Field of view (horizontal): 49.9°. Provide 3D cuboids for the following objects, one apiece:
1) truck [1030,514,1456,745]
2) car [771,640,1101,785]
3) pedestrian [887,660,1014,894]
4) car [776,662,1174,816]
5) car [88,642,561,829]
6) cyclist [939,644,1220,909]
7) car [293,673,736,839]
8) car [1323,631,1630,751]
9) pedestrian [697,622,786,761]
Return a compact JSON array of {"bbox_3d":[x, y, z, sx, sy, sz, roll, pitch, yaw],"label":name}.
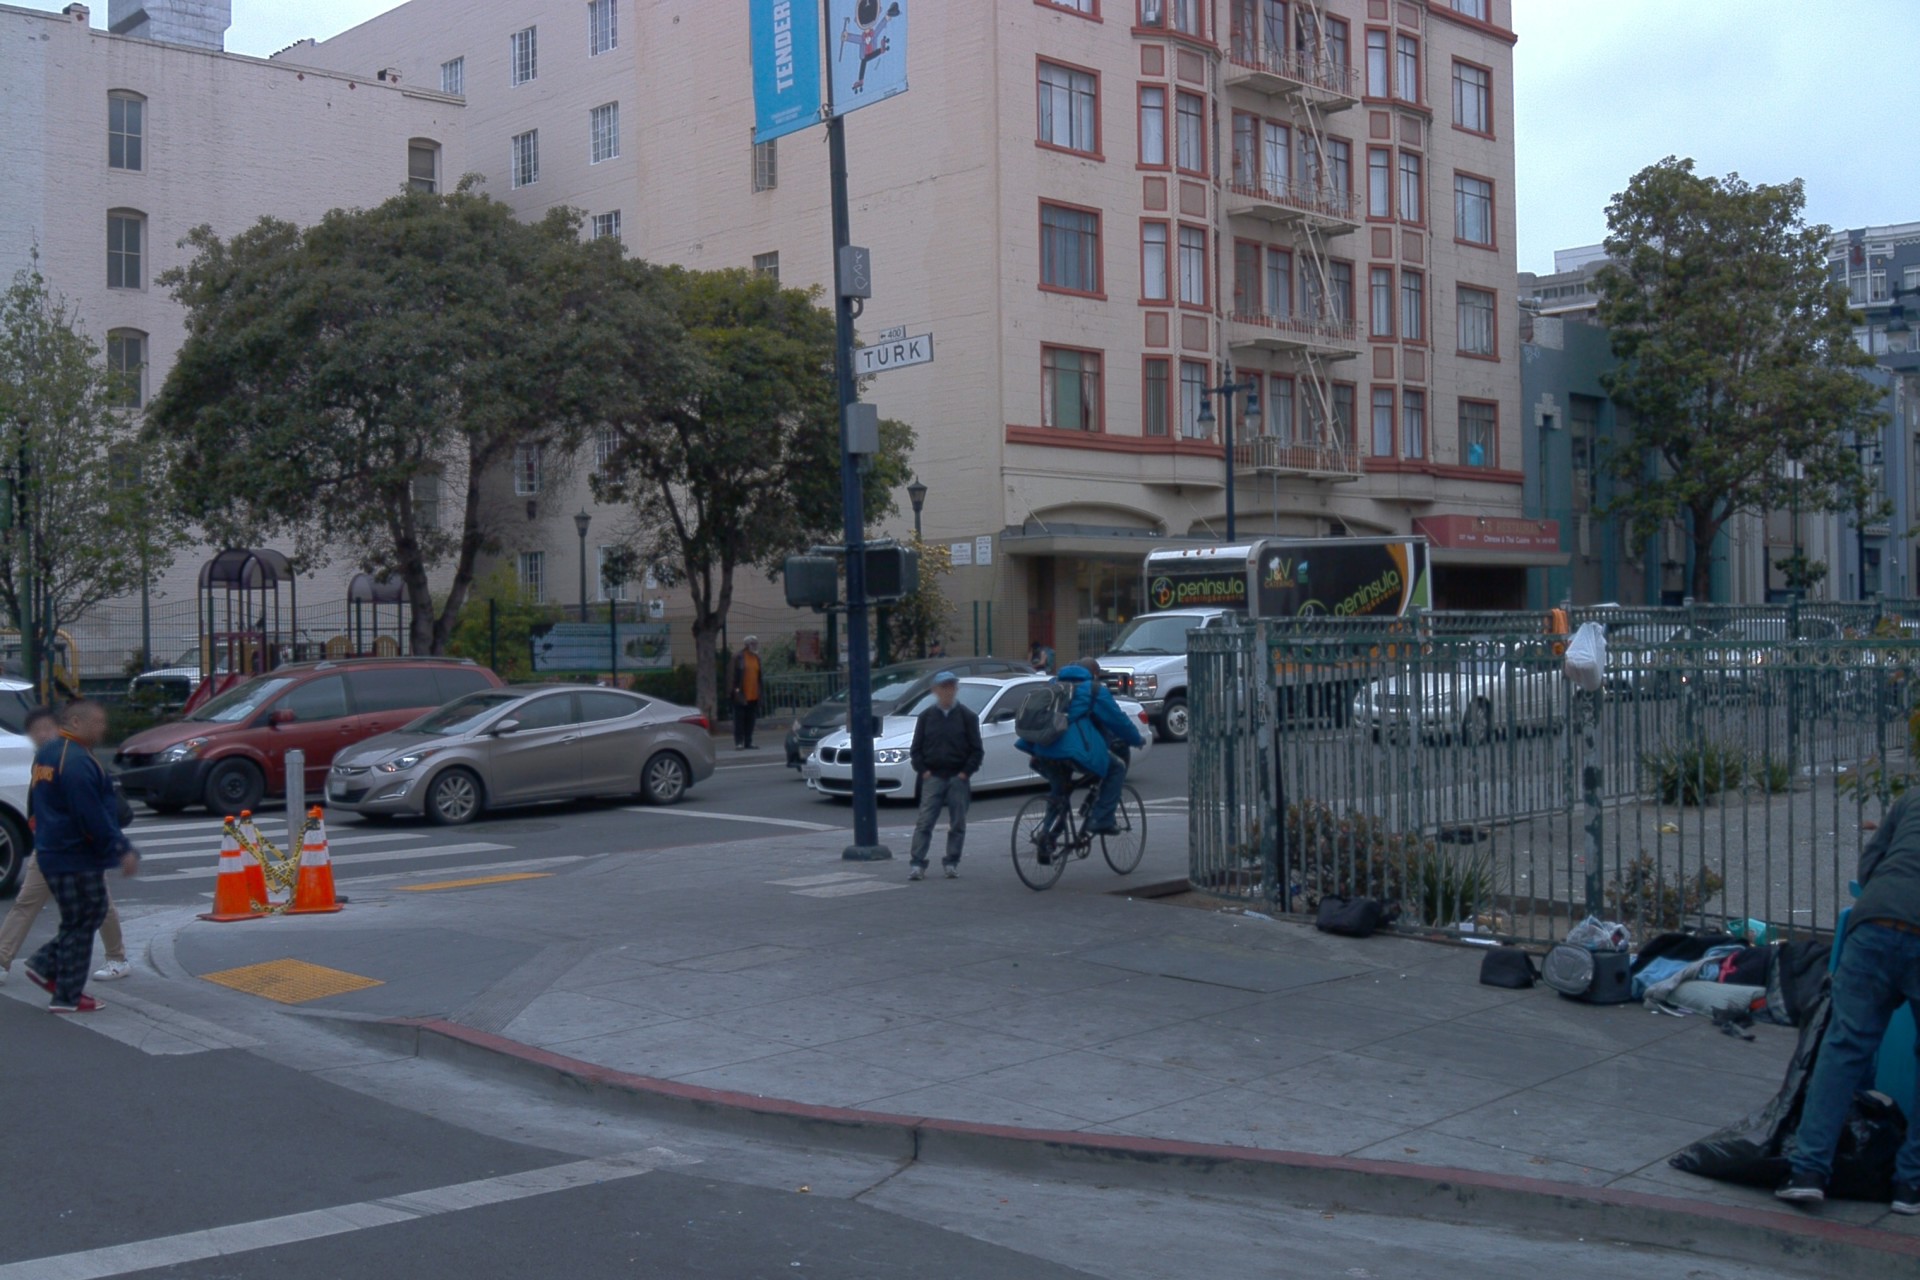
[{"bbox_3d":[4.776,-0.191,34.003,7.101,3.420,2.936,-1,1,-40],"label":"truck"},{"bbox_3d":[-0.250,0.884,27.482,4.317,1.730,1.853,-1,1,-45],"label":"car"},{"bbox_3d":[-0.063,0.996,15.372,0.779,1.670,0.796,0,1,14],"label":"pedestrian"},{"bbox_3d":[0.262,1.062,23.992,4.584,1.520,1.930,-1,1,-44],"label":"car"},{"bbox_3d":[-7.584,1.041,24.984,5.046,1.980,2.095,-1,1,-42],"label":"car"},{"bbox_3d":[0.889,0.920,14.930,1.014,1.750,1.949,1,1,43],"label":"cyclist"},{"bbox_3d":[-4.858,1.200,22.957,4.454,1.540,1.957,-1,1,-44],"label":"car"},{"bbox_3d":[7.888,0.695,31.247,5.013,1.630,2.224,-1,1,-45],"label":"car"},{"bbox_3d":[-3.553,0.816,33.572,1.047,2.200,1.032,-1,1,-35],"label":"pedestrian"}]
